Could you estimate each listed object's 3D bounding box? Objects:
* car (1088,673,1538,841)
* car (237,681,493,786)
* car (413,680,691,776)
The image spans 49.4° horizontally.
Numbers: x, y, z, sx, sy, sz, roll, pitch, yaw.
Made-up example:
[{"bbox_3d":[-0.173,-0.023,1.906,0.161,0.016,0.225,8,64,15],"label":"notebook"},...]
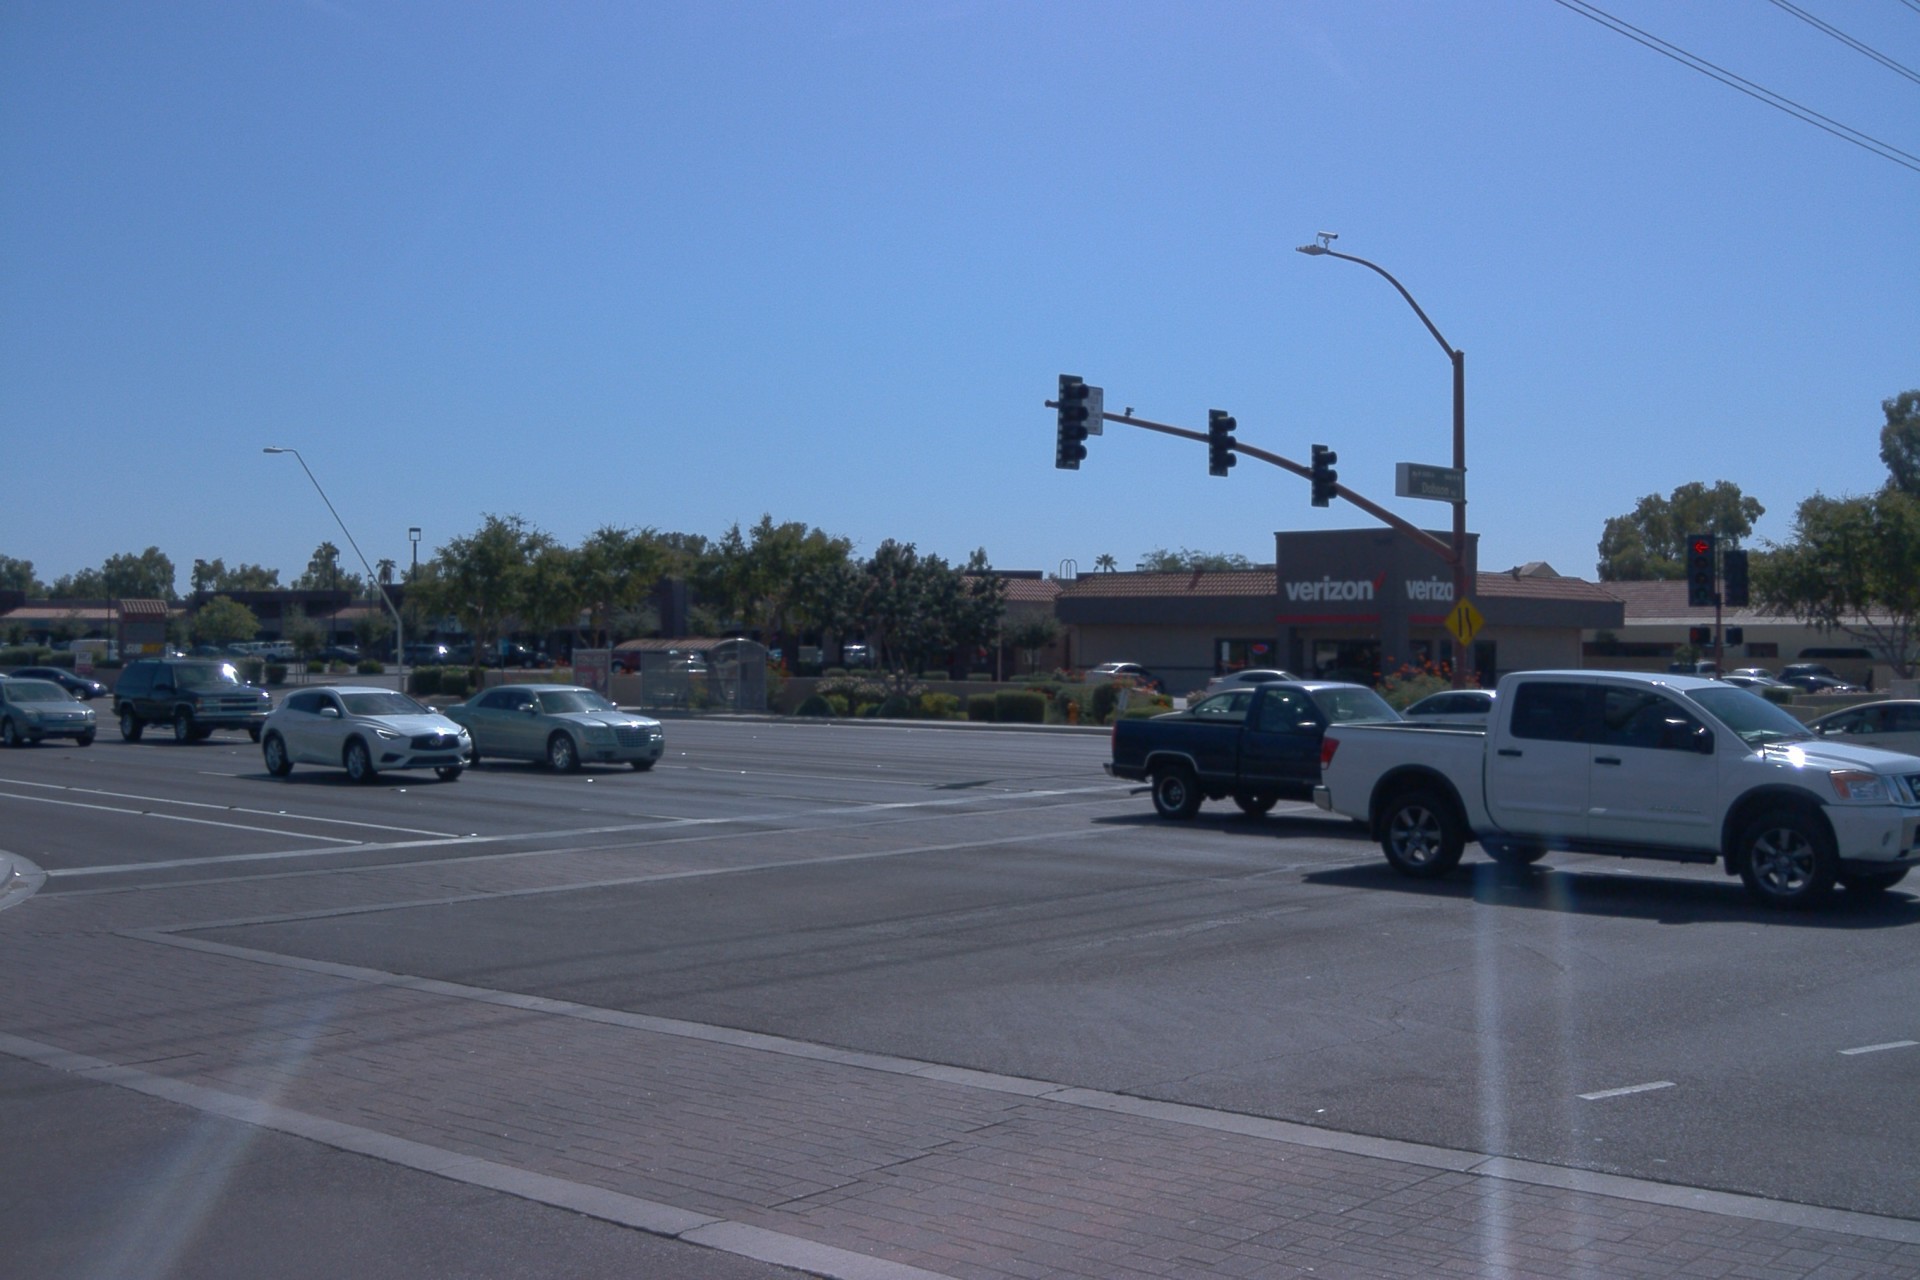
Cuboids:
[{"bbox_3d":[4.258,1.341,25.827,5.098,1.840,2.279,0,-1,45],"label":"car"},{"bbox_3d":[-9.836,1.477,34.316,4.472,1.550,2.100,0,-1,45],"label":"car"},{"bbox_3d":[-7.377,1.515,37.426,5.235,1.550,2.265,0,-1,44],"label":"car"}]
